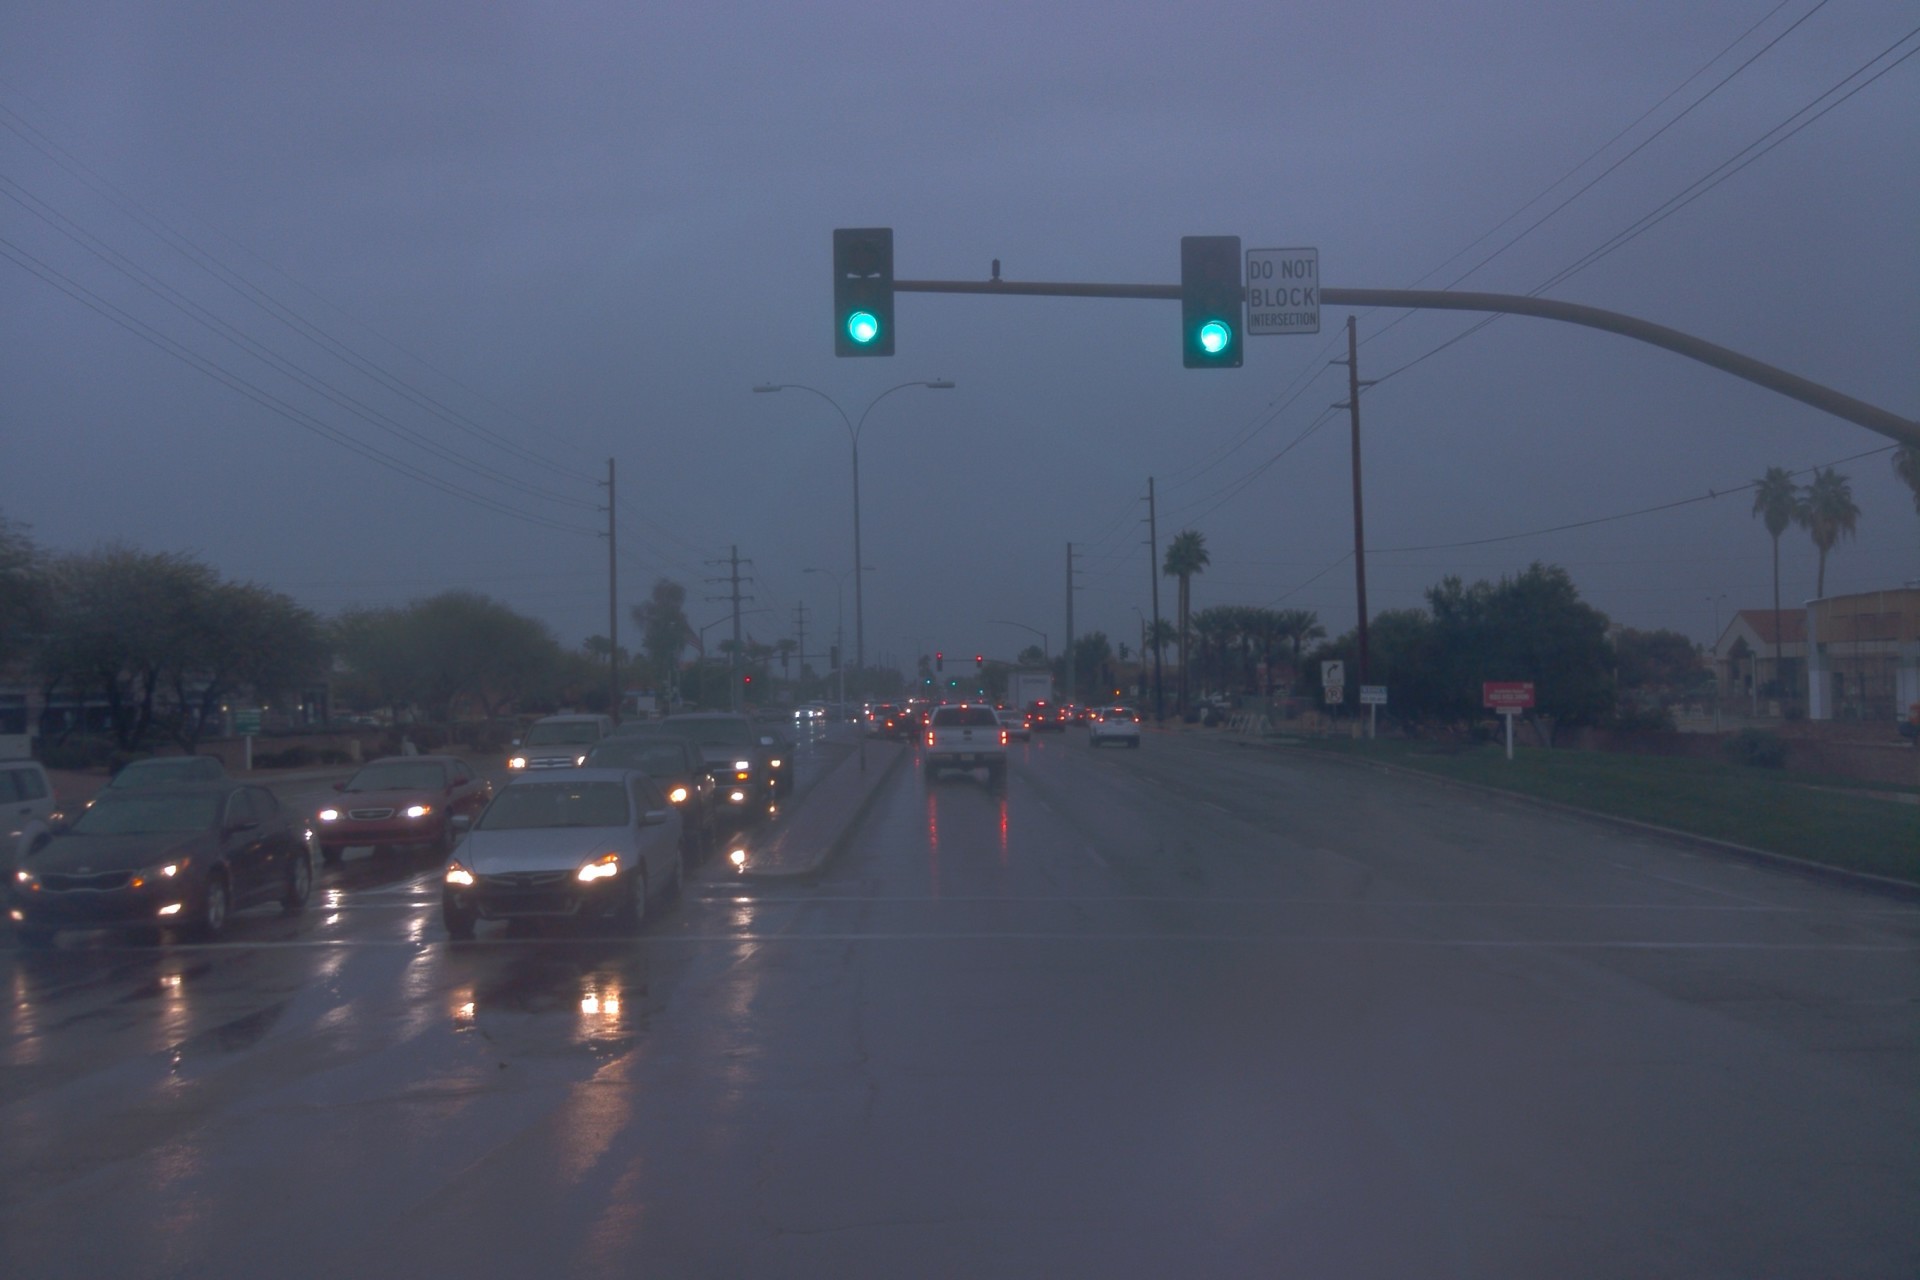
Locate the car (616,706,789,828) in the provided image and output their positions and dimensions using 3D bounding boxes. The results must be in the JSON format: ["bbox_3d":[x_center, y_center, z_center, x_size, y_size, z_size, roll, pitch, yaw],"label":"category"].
[{"bbox_3d":[-4.443,2.164,36.804,2.507,1.910,5.860,0,-1,-2],"label":"car"}]

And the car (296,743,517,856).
[{"bbox_3d":[-8.176,2.328,31.176,2.144,1.410,4.797,0,-1,-1],"label":"car"}]

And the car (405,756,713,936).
[{"bbox_3d":[-3.803,1.937,20.580,2.102,1.410,4.605,0,-1,1],"label":"car"}]
